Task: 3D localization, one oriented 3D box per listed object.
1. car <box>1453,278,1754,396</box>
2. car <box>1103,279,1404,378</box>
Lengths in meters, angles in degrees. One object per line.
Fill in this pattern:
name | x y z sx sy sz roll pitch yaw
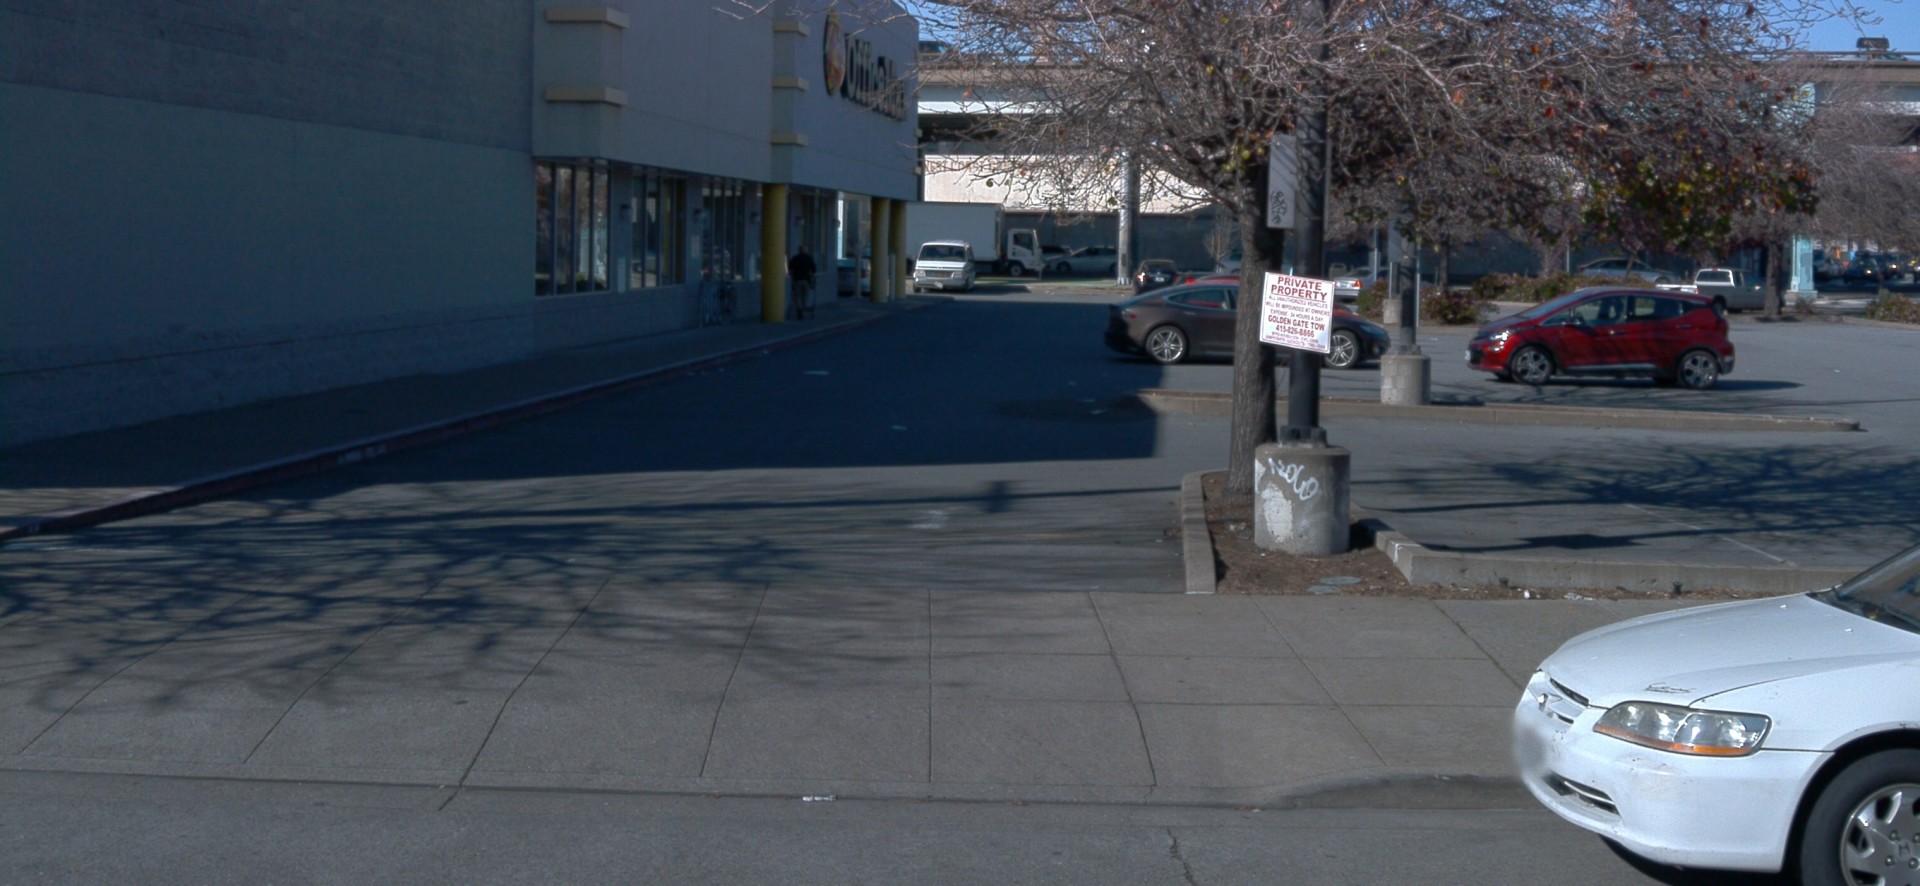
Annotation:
car | 10.176 -1.721 32.774 4.156 1.695 2.038 1 4 2
car | 5.039 -2.024 35.898 5.044 1.525 1.995 1 4 5
